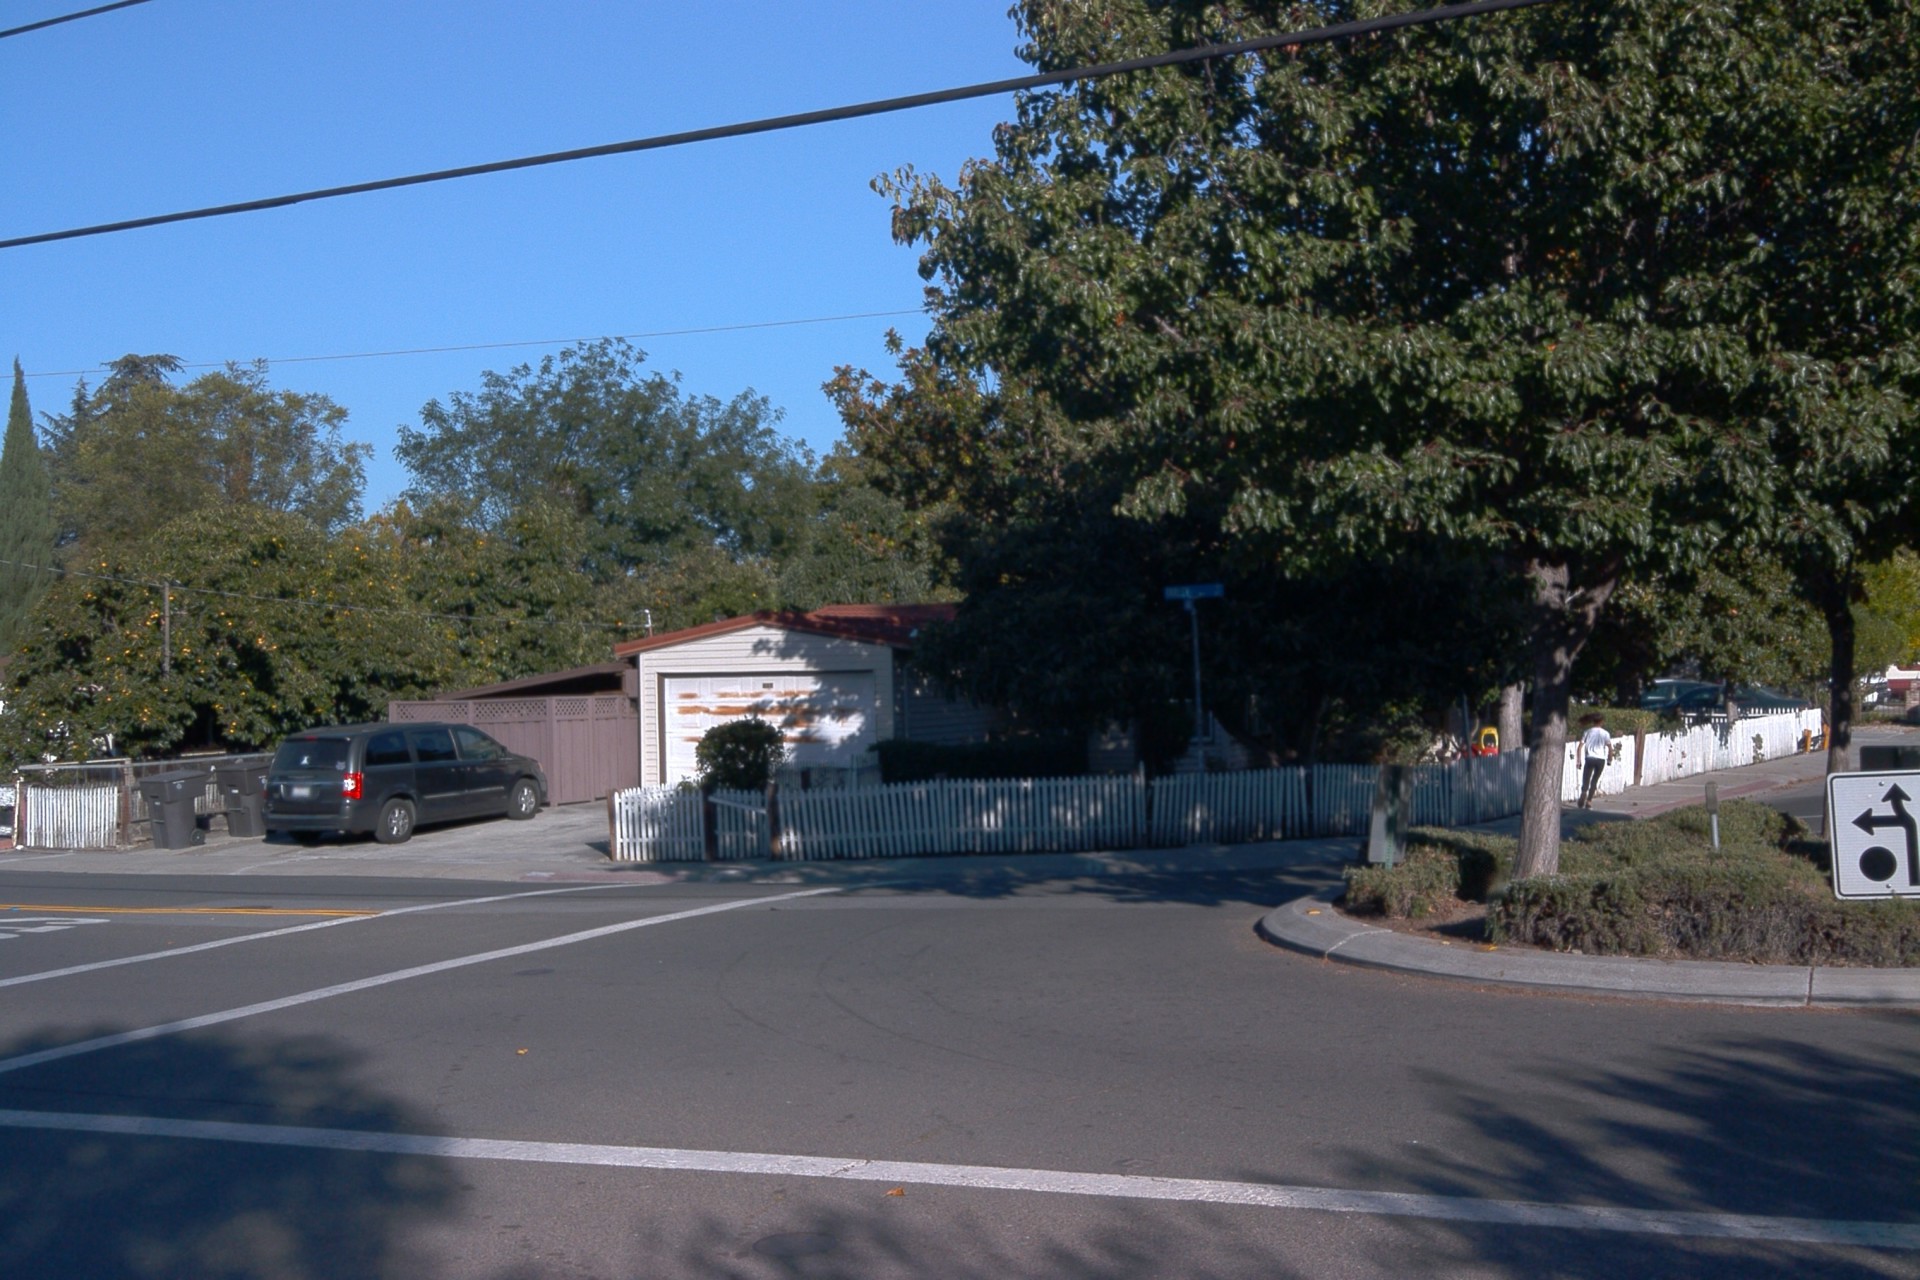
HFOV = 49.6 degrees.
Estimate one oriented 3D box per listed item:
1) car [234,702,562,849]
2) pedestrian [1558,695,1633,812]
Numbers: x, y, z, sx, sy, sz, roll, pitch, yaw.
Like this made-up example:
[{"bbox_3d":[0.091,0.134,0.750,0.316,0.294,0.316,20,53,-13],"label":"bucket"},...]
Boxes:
[{"bbox_3d":[-8.550,1.997,32.126,2.140,1.930,4.988,1,0,25],"label":"car"},{"bbox_3d":[9.059,1.606,29.660,0.840,1.580,1.178,1,0,8],"label":"pedestrian"}]
